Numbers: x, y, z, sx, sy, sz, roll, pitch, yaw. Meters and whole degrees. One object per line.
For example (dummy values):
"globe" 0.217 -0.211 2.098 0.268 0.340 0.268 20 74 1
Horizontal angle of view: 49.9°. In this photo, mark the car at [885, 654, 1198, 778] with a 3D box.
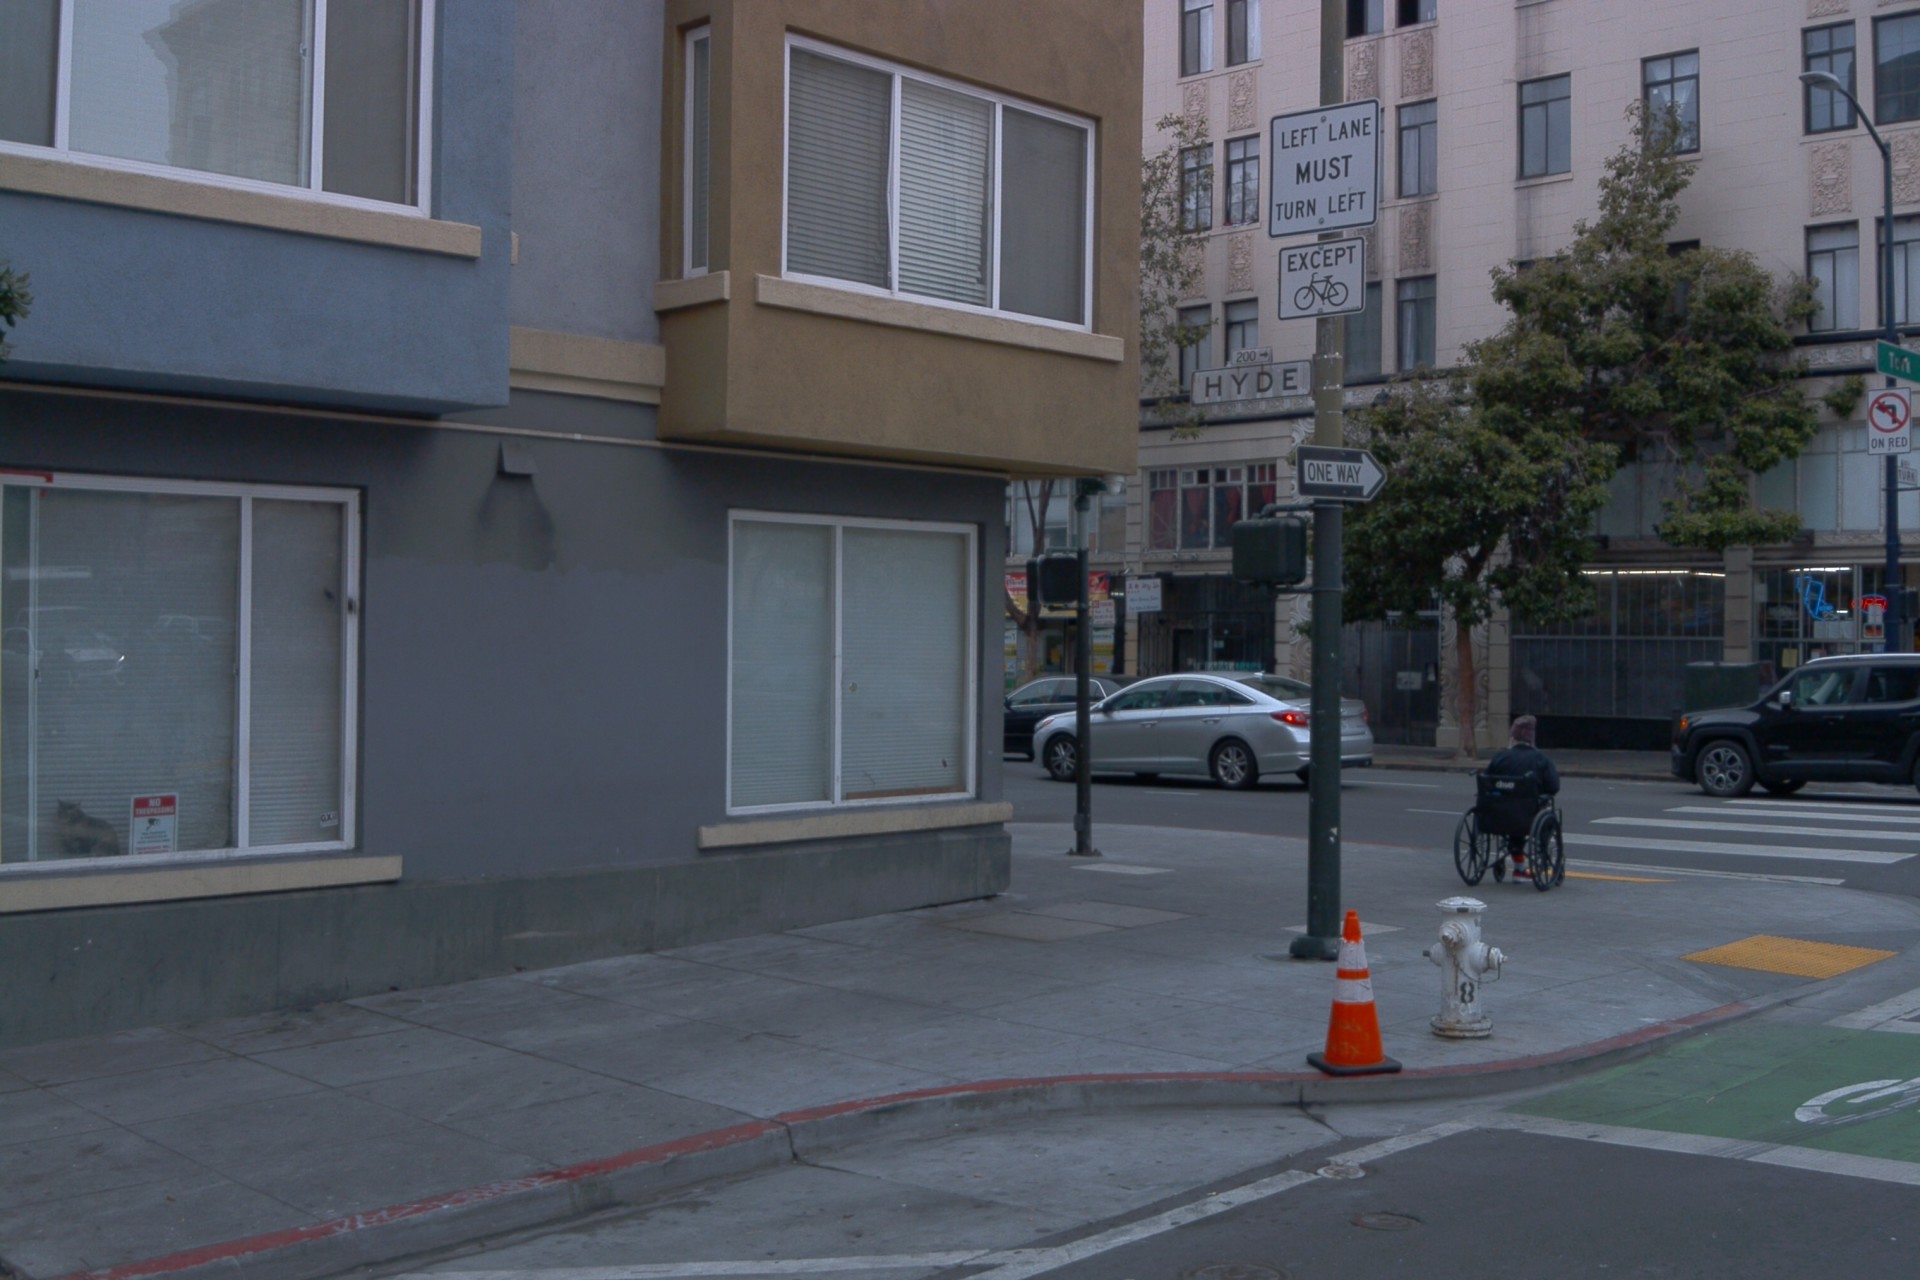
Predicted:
"car" 1.227 1.143 33.010 4.786 1.723 2.180 1 1 45

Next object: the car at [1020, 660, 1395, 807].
"car" 3.105 1.128 26.625 1.939 1.600 4.599 -1 1 -44

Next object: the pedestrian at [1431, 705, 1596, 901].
"pedestrian" 4.236 1.213 15.769 0.883 1.370 1.026 1 1 38
